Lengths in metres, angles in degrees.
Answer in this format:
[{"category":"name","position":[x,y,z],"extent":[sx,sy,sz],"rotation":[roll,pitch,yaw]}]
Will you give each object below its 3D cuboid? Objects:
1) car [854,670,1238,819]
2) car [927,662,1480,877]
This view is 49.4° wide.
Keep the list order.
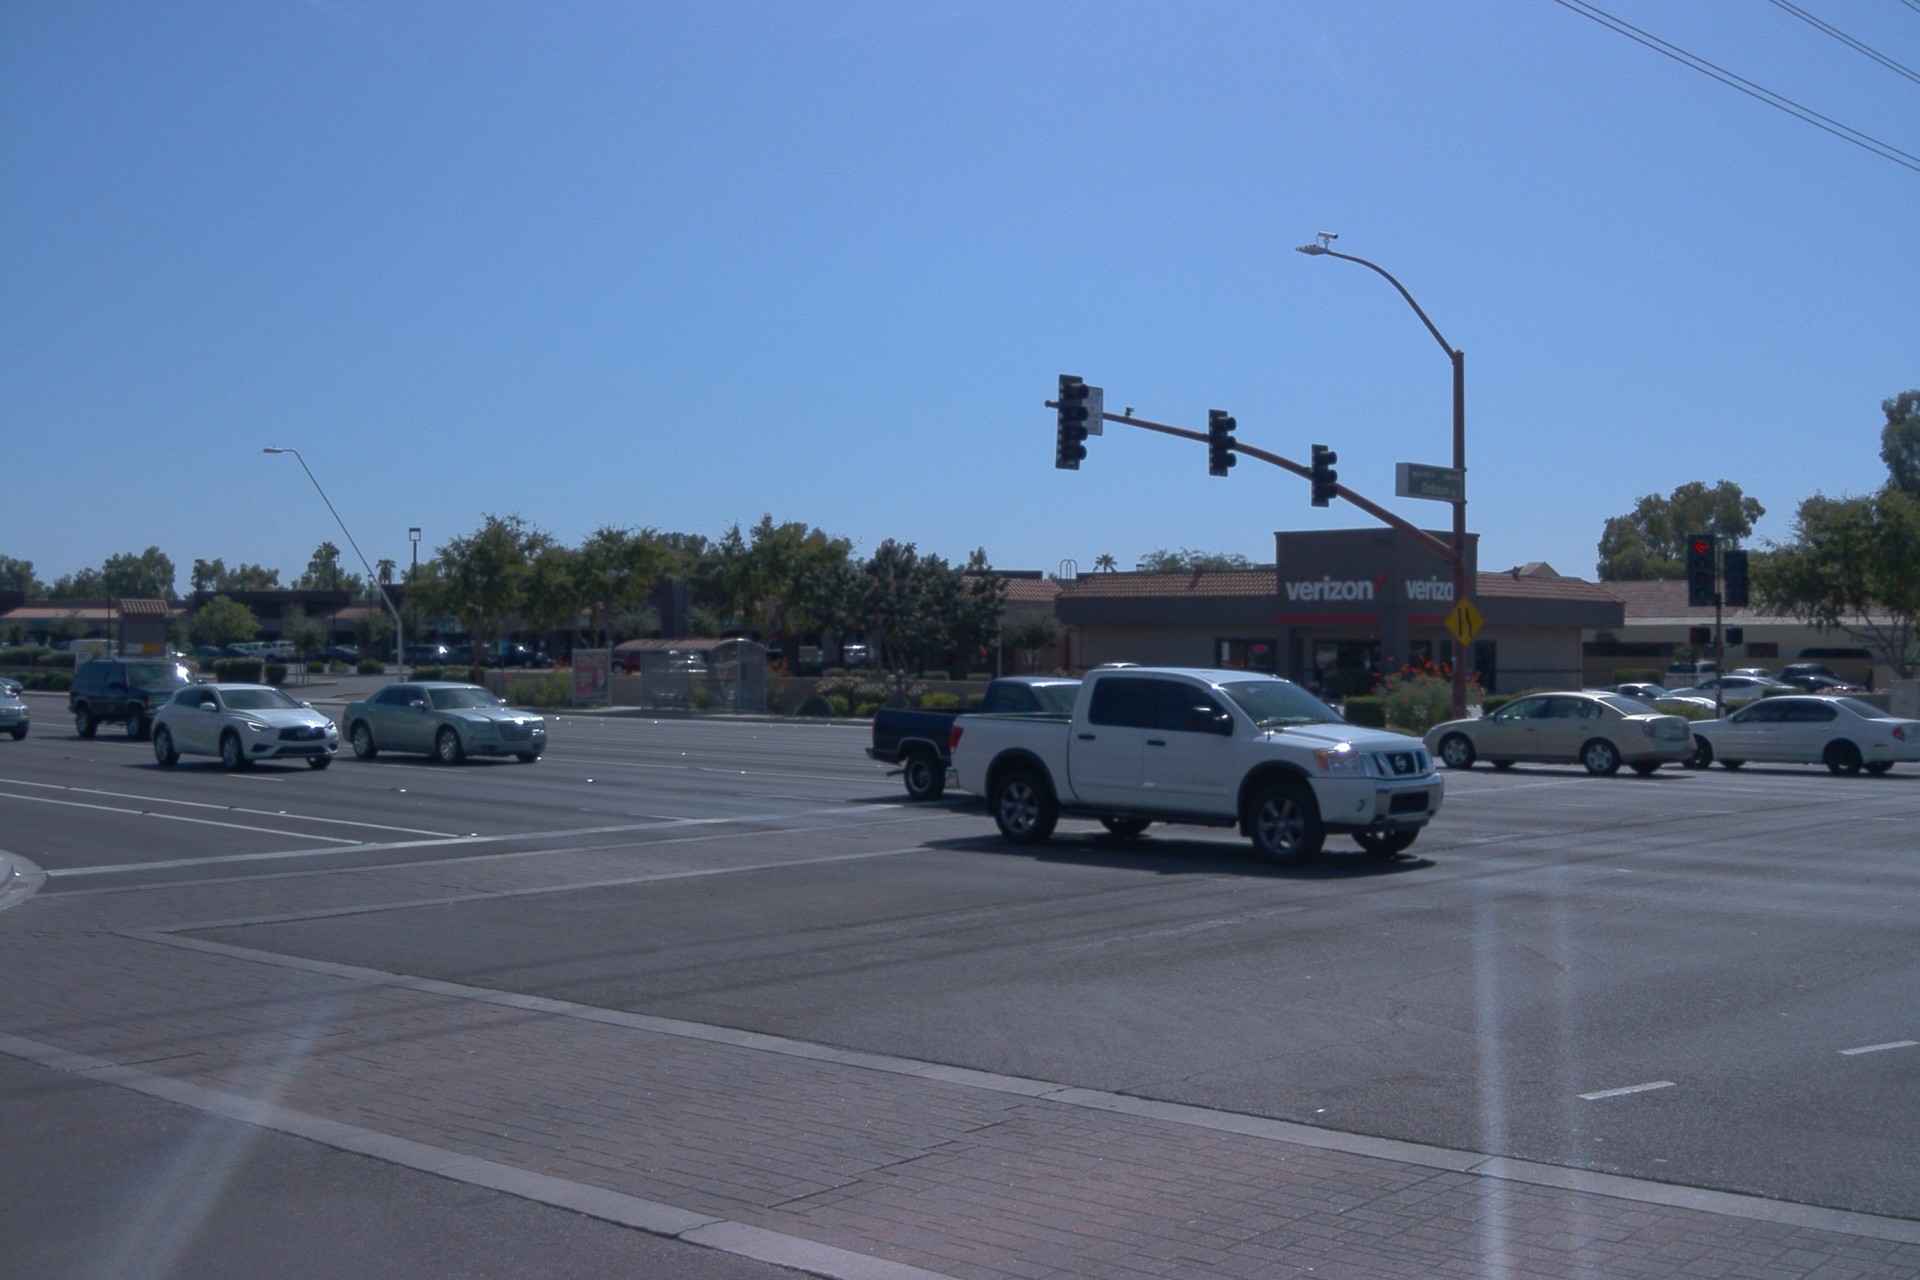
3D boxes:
[{"category":"car","position":[1.101,1.356,28.938],"extent":[5.098,1.840,2.279],"rotation":[0,-1,44]},{"category":"car","position":[2.460,1.249,22.430],"extent":[5.691,2.010,2.278],"rotation":[0,-1,44]}]
